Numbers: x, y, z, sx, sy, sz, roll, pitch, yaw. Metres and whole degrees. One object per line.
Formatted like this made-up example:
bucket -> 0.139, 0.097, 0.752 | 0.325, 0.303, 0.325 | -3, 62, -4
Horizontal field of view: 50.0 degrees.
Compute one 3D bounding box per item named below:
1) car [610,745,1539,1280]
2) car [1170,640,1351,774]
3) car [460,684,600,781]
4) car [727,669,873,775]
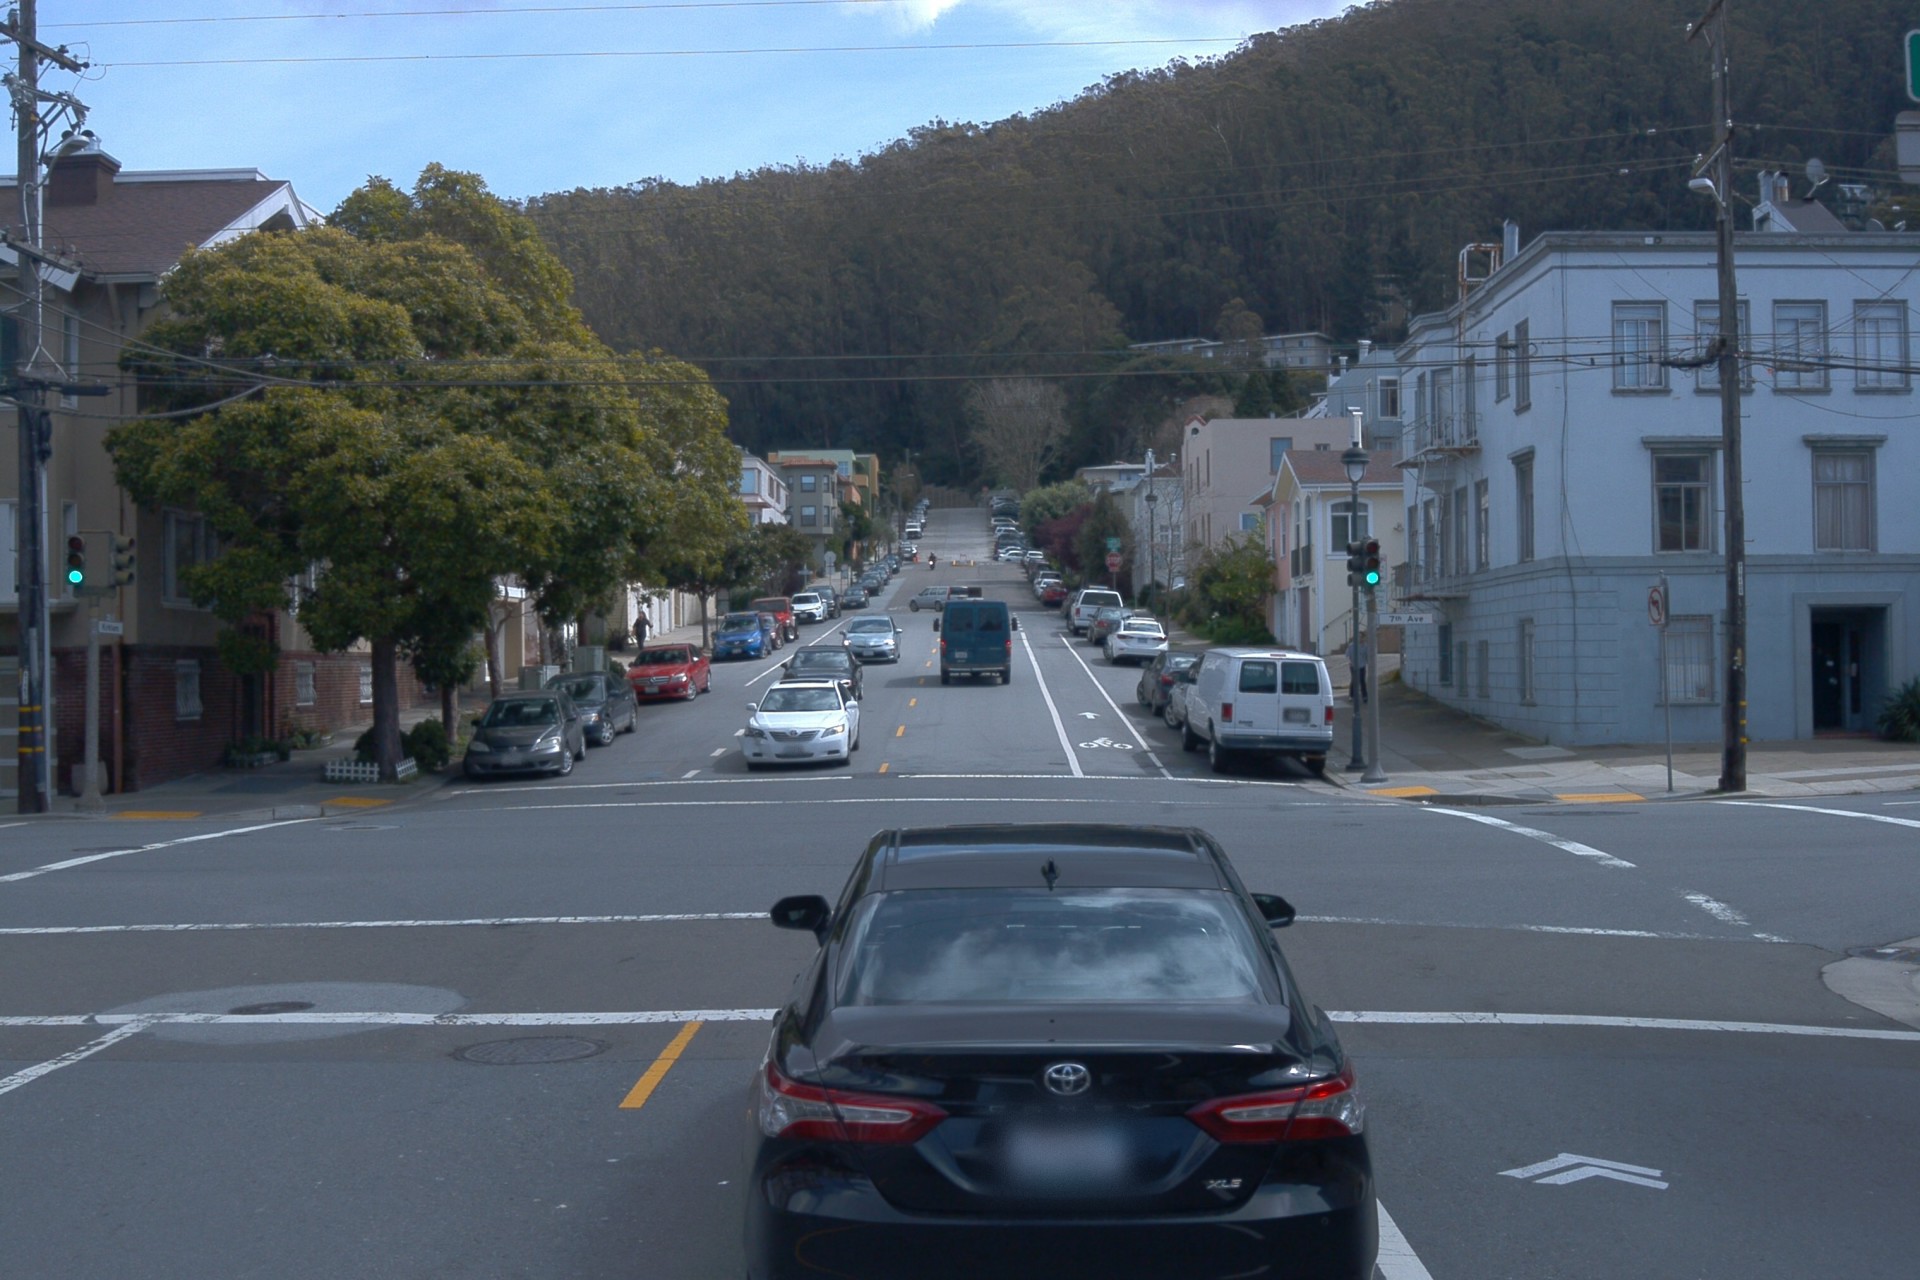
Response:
car -> 0.278, 1.307, 7.389 | 2.249, 1.620, 4.798 | 0, 0, 0
car -> 5.313, 1.123, 37.213 | 2.299, 2.250, 5.313 | 0, 0, -2
car -> -7.711, 1.628, 37.252 | 1.836, 1.560, 4.133 | 0, 0, -3
car -> -2.844, 1.442, 37.629 | 2.209, 1.750, 4.541 | 0, 0, 1
